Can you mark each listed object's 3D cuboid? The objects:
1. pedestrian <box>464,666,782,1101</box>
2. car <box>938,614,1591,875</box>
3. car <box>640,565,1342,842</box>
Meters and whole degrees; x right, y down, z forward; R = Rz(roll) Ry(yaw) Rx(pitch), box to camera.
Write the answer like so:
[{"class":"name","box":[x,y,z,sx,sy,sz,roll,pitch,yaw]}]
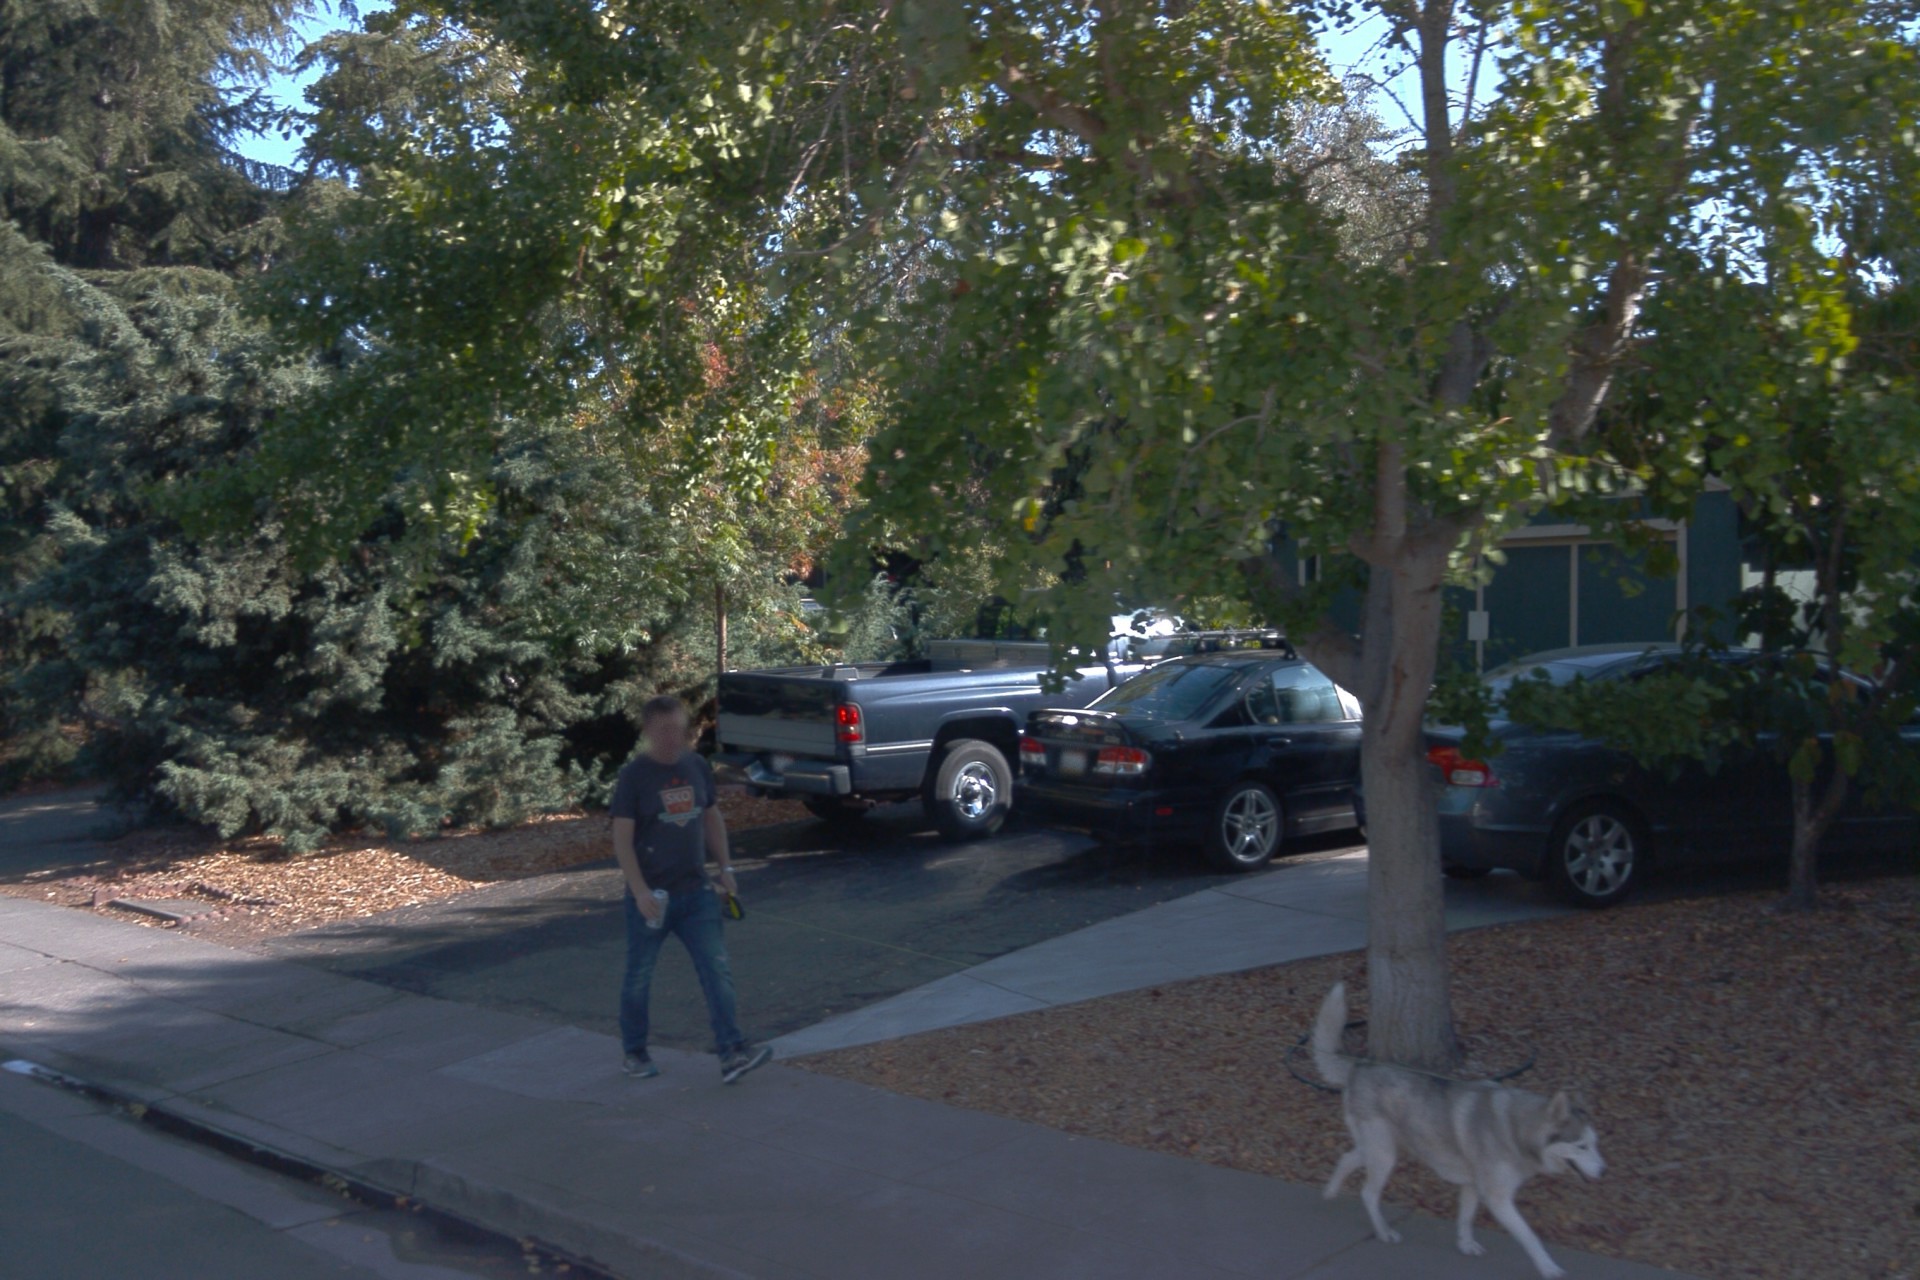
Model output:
[{"class":"pedestrian","box":[-1.515,1.023,9.378,0.995,1.800,1.005,1,0,-45]},{"class":"car","box":[2.236,0.683,15.055,4.343,1.640,1.998,1,0,-30]},{"class":"car","box":[0.397,0.481,17.326,5.542,1.940,2.430,1,0,-39]}]
